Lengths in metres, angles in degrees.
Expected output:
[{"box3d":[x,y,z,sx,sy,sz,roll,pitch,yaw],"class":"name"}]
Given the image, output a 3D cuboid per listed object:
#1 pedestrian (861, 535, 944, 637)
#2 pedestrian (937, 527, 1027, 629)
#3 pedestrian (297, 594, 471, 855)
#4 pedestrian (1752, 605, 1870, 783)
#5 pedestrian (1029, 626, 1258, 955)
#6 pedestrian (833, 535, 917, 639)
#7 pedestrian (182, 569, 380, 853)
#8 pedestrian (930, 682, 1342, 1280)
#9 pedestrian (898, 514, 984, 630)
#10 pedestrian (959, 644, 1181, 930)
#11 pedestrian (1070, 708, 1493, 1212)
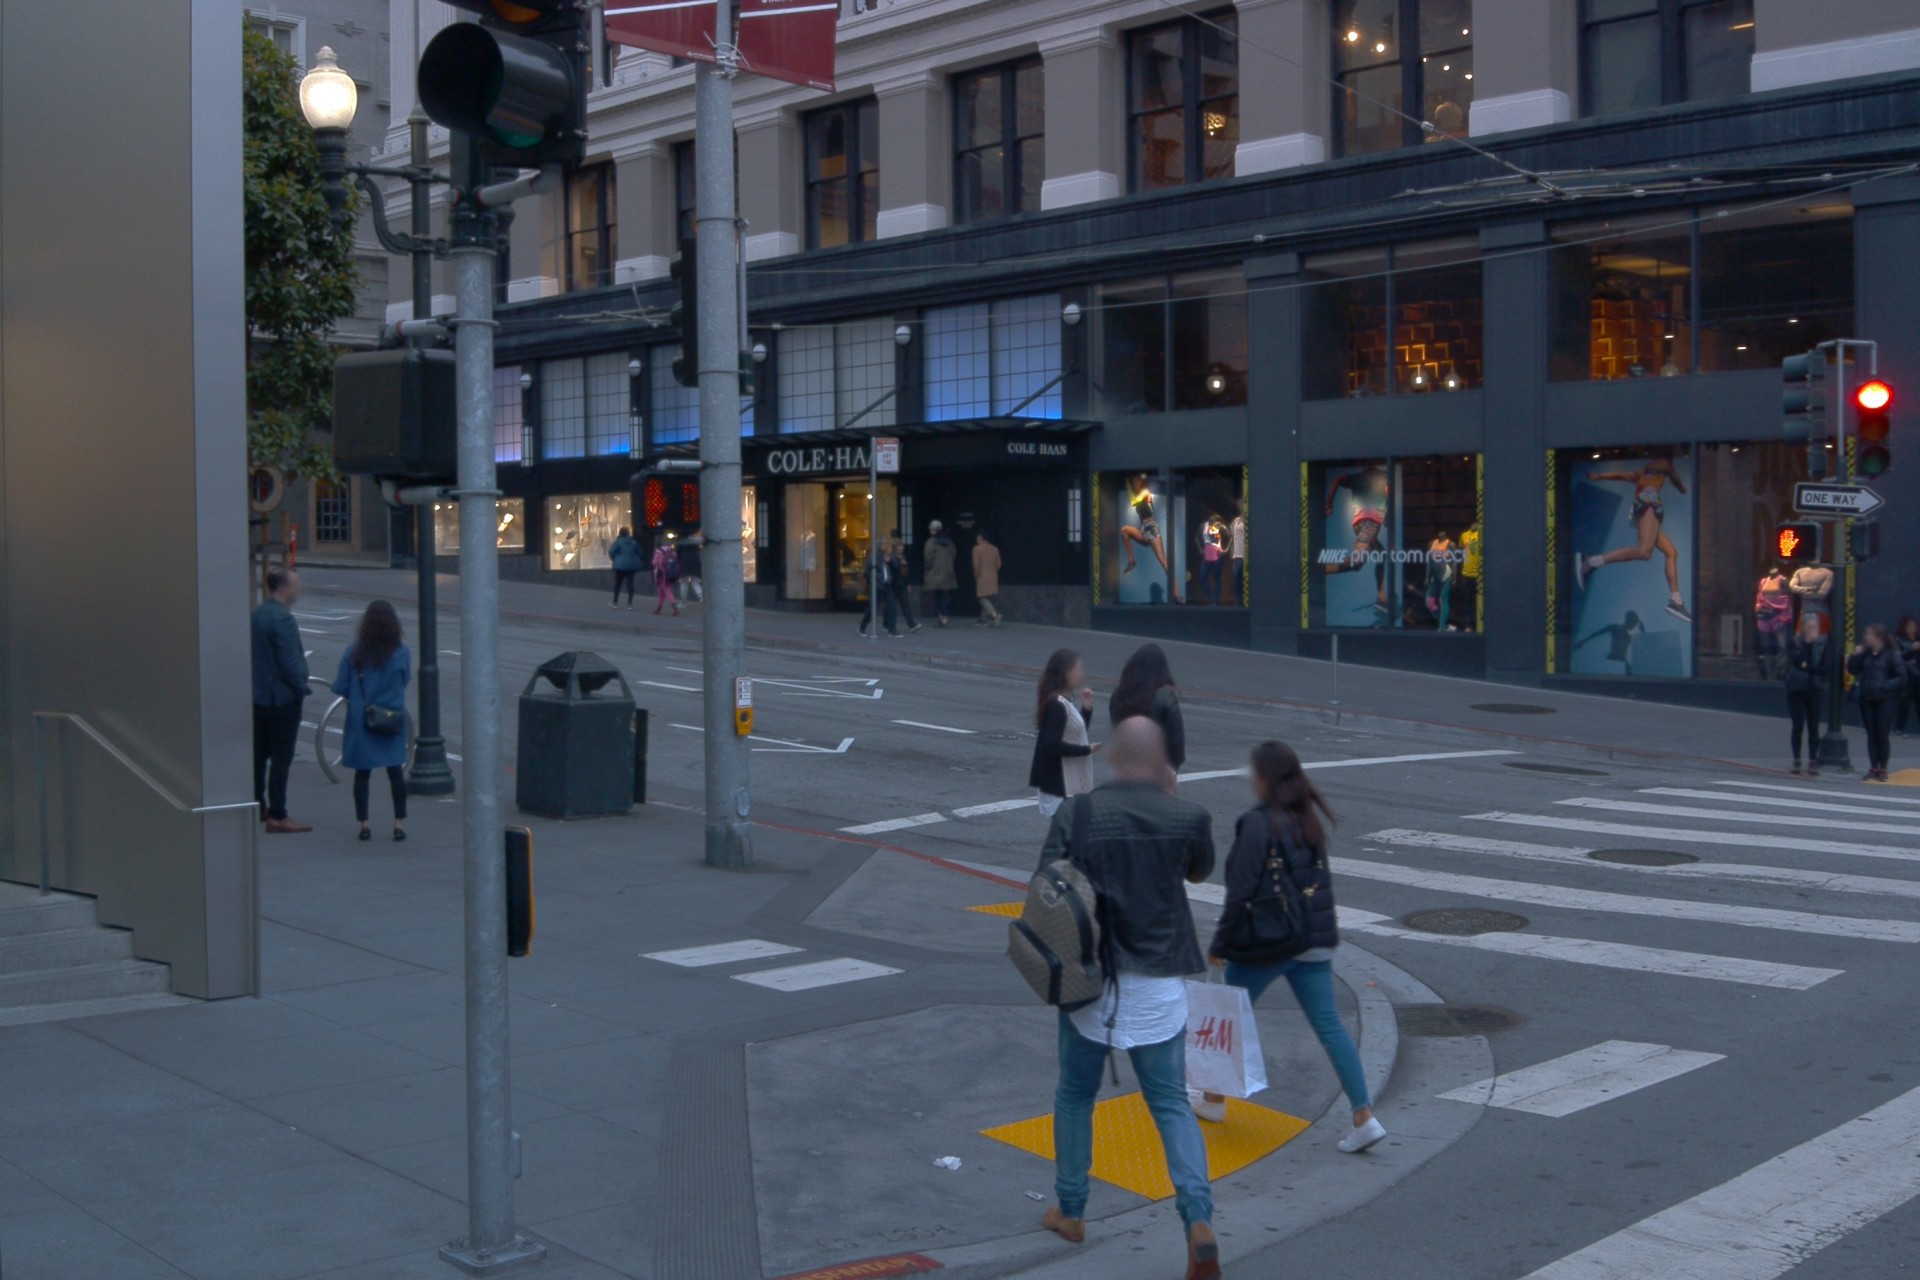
[{"box3d":[-0.951,-0.884,33.714,0.891,1.650,1.047,0,1,-43],"class":"pedestrian"},{"box3d":[0.380,-1.038,34.933,1.053,1.700,1.109,0,1,-42],"class":"pedestrian"},{"box3d":[-4.038,0.560,14.355,0.951,1.750,0.801,0,1,-37],"class":"pedestrian"},{"box3d":[8.945,0.539,21.527,0.895,1.800,1.088,1,1,36],"class":"pedestrian"},{"box3d":[1.110,0.866,12.460,1.113,1.890,0.813,0,1,-31],"class":"pedestrian"},{"box3d":[-1.382,-0.846,33.229,0.891,1.650,1.047,-1,1,-44],"class":"pedestrian"},{"box3d":[-4.891,0.479,14.782,0.981,1.960,0.939,1,1,31],"class":"pedestrian"},{"box3d":[0.515,1.065,6.473,0.930,1.820,1.123,0,1,-18],"class":"pedestrian"},{"box3d":[-0.322,-1.130,34.533,0.963,1.920,1.104,0,1,-43],"class":"pedestrian"},{"box3d":[0.698,0.890,13.080,1.003,1.710,0.997,0,1,-38],"class":"pedestrian"},{"box3d":[1.222,1.115,7.769,1.097,1.640,1.174,1,1,44],"class":"pedestrian"}]
